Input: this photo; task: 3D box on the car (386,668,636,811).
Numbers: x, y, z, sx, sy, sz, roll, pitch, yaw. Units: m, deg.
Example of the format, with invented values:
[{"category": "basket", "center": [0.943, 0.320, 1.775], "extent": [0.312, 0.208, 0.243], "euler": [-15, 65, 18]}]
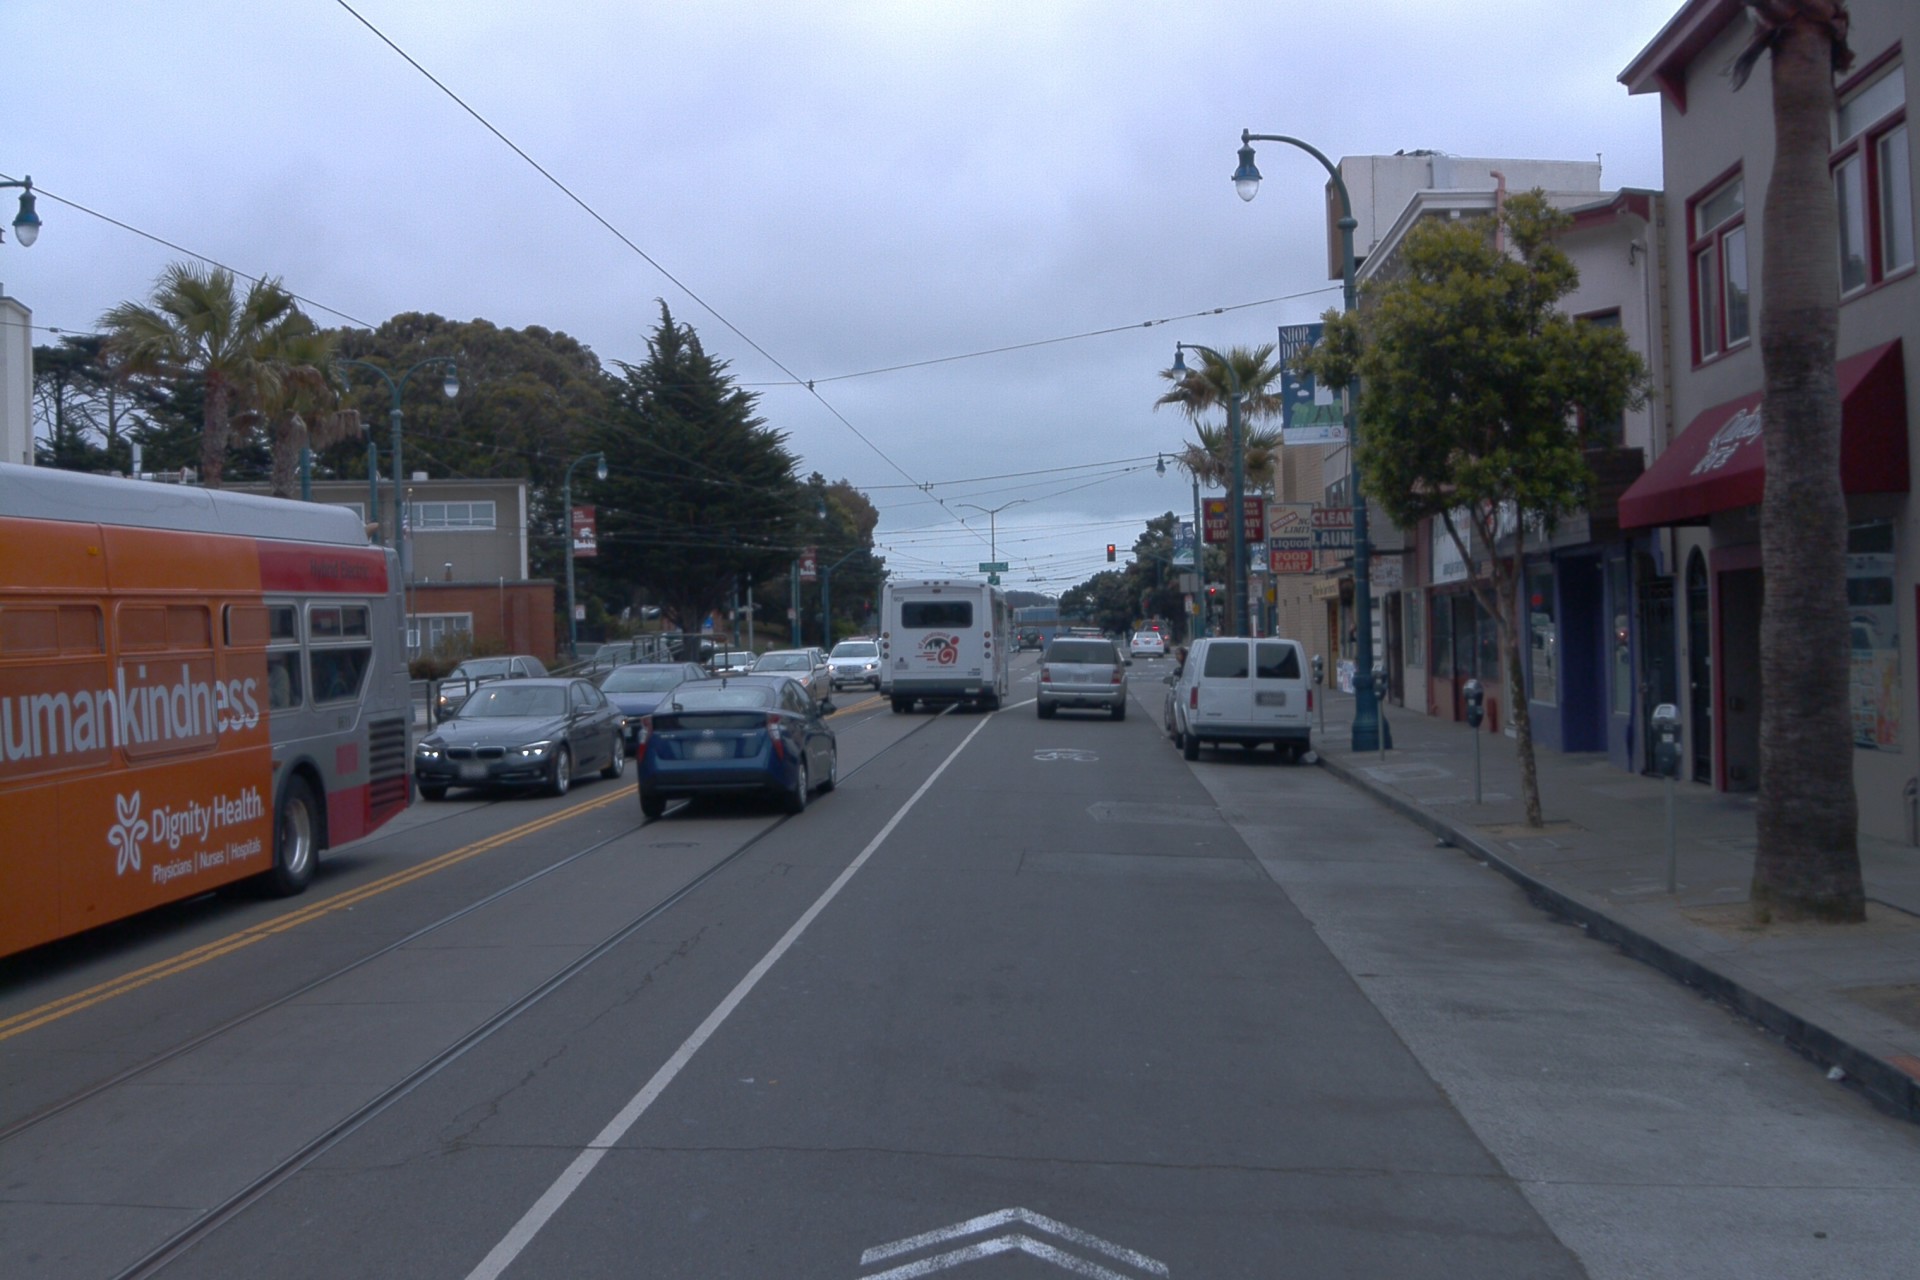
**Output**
[{"category": "car", "center": [-5.636, 1.197, 26.430], "extent": [1.966, 1.540, 4.639], "euler": [0, 1, 3]}]

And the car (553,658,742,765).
[{"category": "car", "center": [-5.134, 1.135, 34.521], "extent": [2.125, 1.540, 4.822], "euler": [0, 1, 4]}]

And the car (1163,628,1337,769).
[{"category": "car", "center": [4.485, 0.848, 32.539], "extent": [2.316, 2.000, 4.857], "euler": [0, 1, 3]}]

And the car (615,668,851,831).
[{"category": "car", "center": [-2.449, 1.160, 23.275], "extent": [1.972, 1.540, 4.258], "euler": [0, 1, 3]}]
